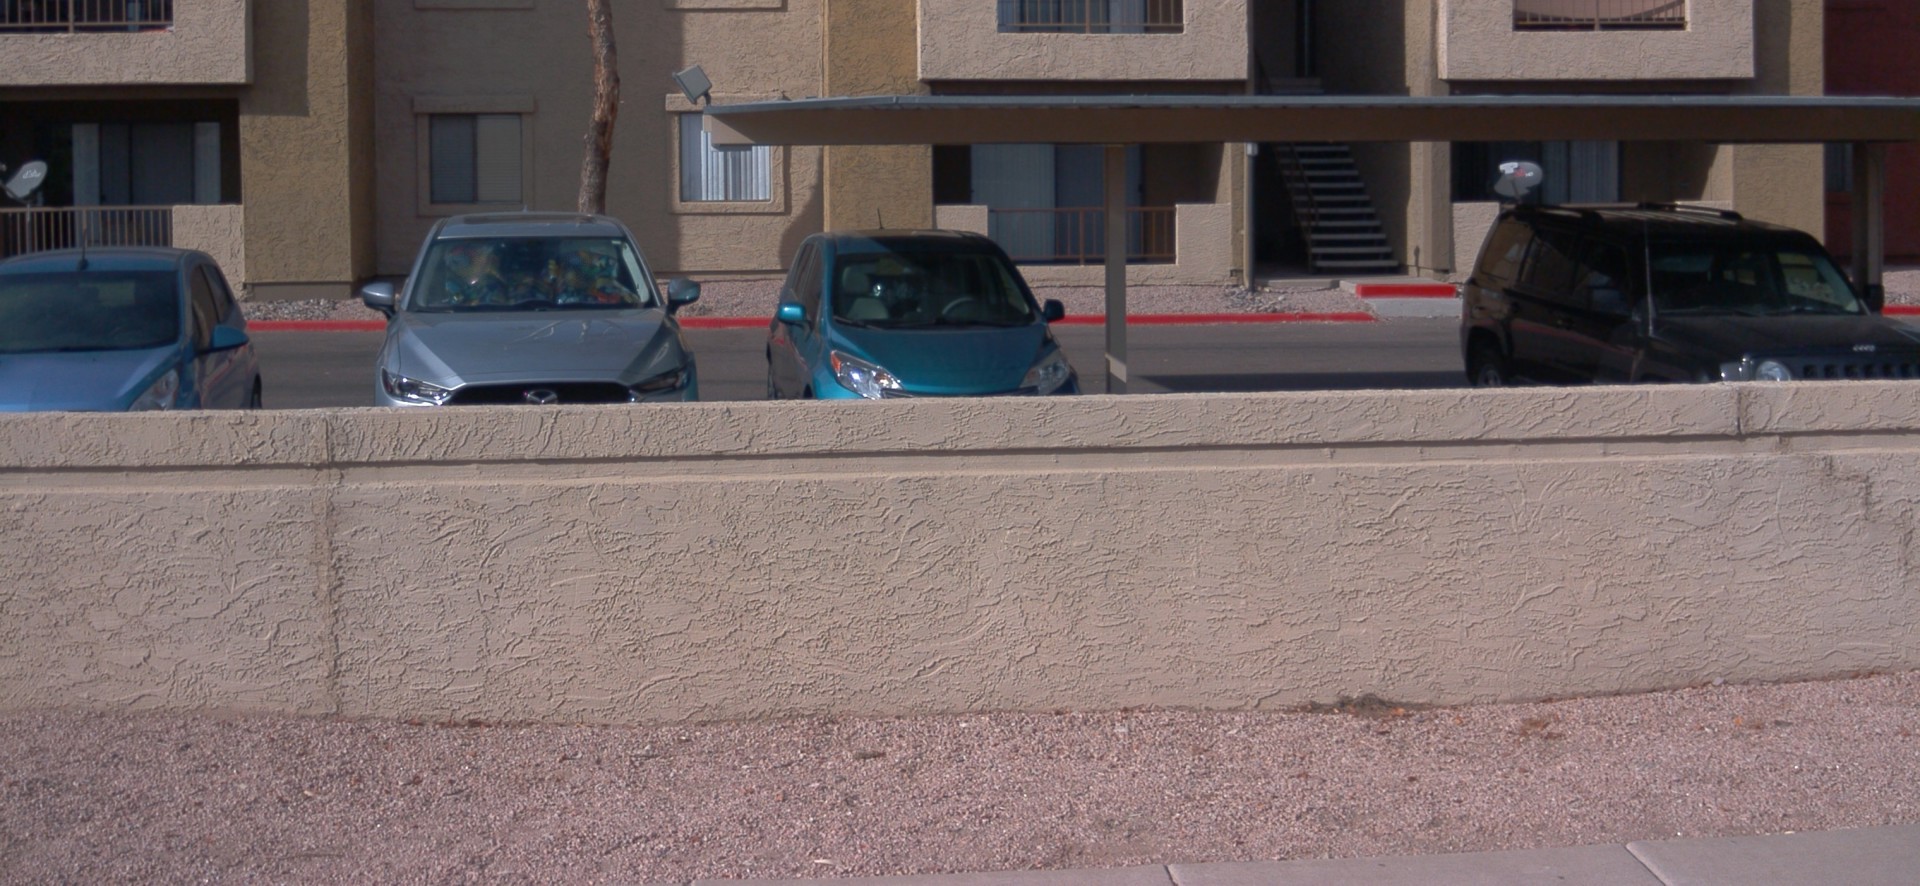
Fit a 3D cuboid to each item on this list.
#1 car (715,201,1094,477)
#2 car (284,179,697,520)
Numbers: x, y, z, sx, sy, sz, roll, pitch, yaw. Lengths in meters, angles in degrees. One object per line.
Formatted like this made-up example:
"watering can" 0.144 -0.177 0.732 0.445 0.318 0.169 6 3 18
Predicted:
"car" -0.520 -0.779 13.855 1.937 1.555 3.813 -1 5 -11
"car" -2.981 -0.706 13.146 2.118 1.755 4.403 -1 5 -14
